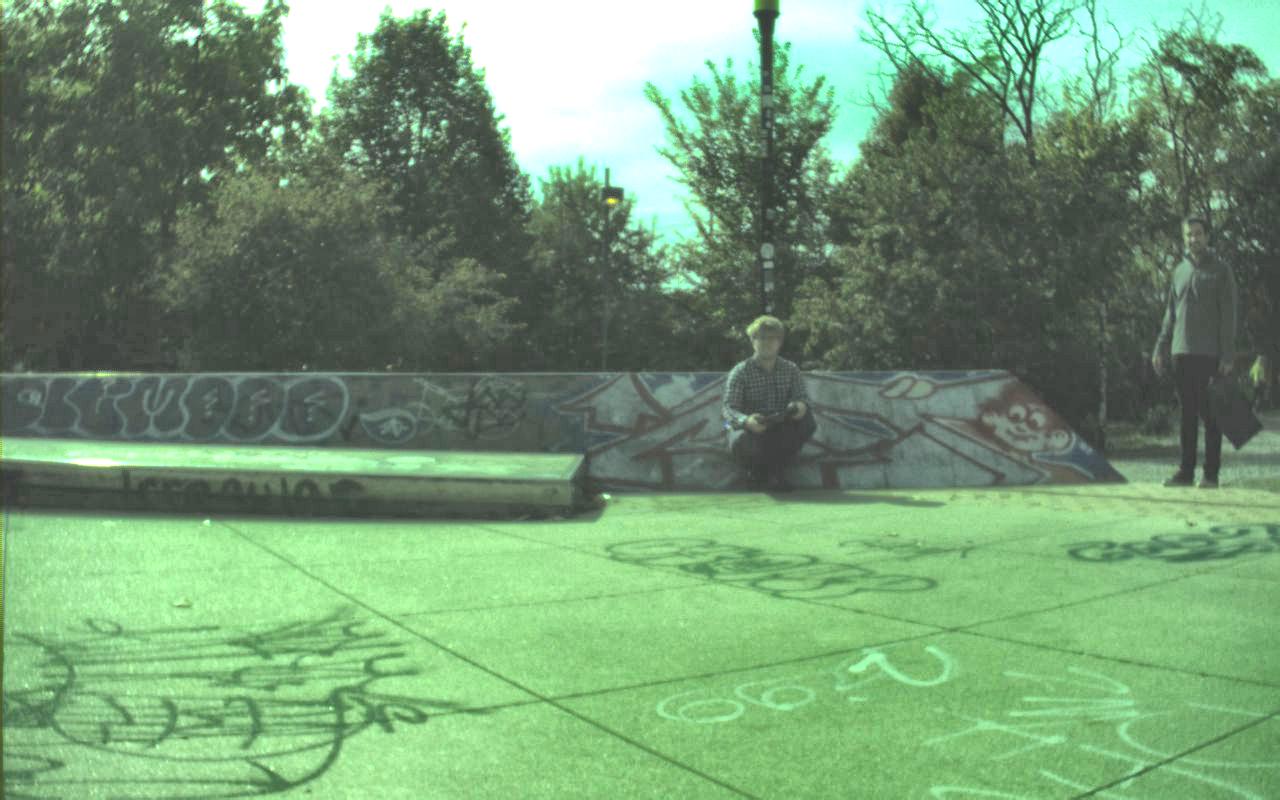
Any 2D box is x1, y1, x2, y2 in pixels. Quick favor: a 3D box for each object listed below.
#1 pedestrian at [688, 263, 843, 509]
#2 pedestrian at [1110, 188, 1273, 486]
[{"bbox_3d":[0.828,-0.094,8.093,0.872,1.492,0.850,1,0,14],"label":"pedestrian"},{"bbox_3d":[3.547,-0.374,7.415,0.825,1.784,0.831,0,0,-37],"label":"pedestrian"}]
